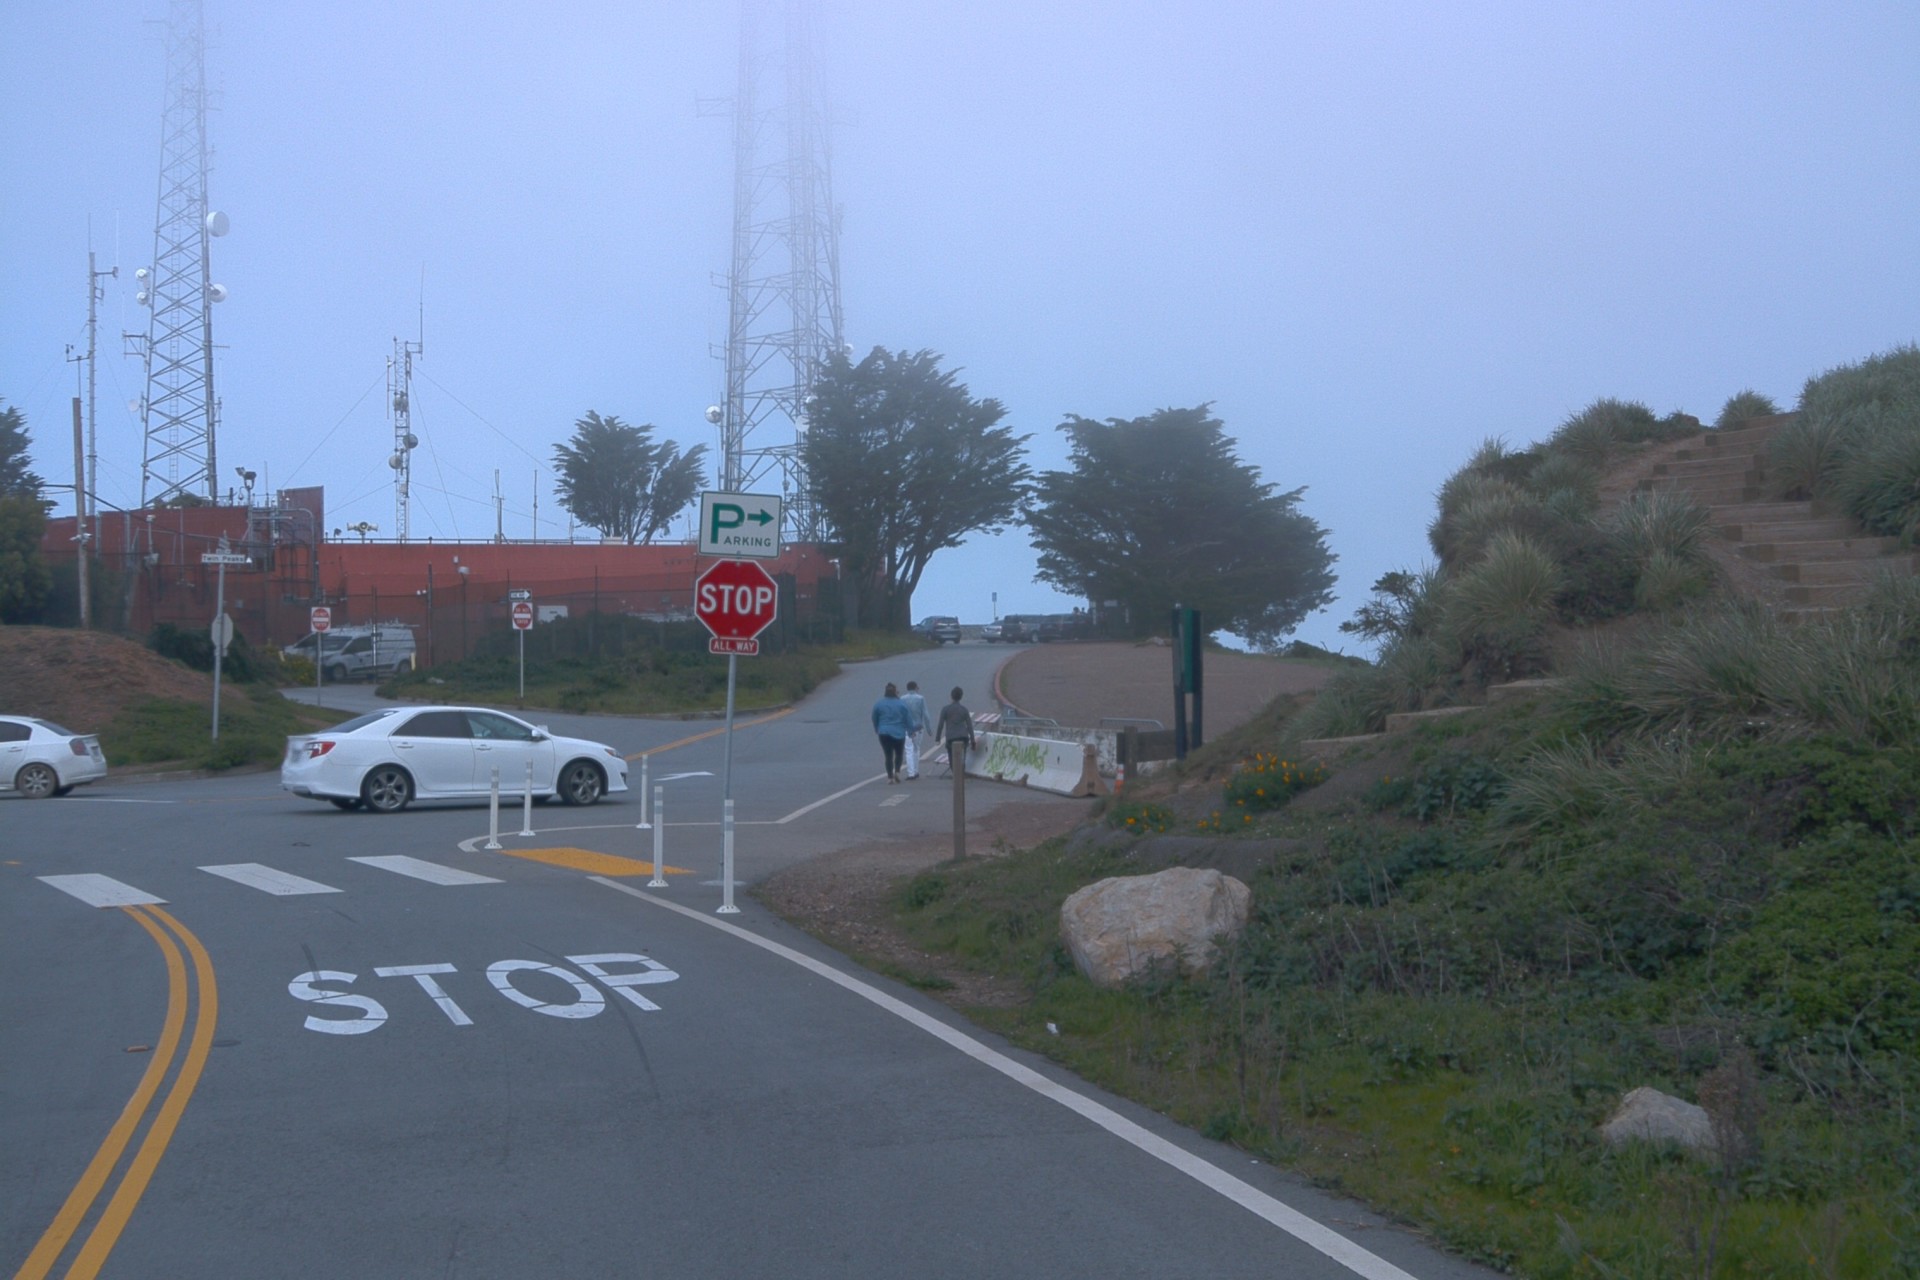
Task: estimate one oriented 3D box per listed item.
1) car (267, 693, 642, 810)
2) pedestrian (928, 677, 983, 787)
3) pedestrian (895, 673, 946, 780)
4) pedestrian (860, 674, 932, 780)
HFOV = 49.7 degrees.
[{"bbox_3d":[-7.103,1.517,29.249,4.692,1.440,2.175,0,0,-32],"label":"car"},{"bbox_3d":[-0.083,1.457,33.149,0.732,1.720,1.096,0,0,-8],"label":"pedestrian"},{"bbox_3d":[-0.675,1.466,35.378,0.816,1.790,0.935,0,0,-4],"label":"pedestrian"},{"bbox_3d":[-1.060,1.434,34.526,1.111,1.730,1.064,0,0,3],"label":"pedestrian"}]
